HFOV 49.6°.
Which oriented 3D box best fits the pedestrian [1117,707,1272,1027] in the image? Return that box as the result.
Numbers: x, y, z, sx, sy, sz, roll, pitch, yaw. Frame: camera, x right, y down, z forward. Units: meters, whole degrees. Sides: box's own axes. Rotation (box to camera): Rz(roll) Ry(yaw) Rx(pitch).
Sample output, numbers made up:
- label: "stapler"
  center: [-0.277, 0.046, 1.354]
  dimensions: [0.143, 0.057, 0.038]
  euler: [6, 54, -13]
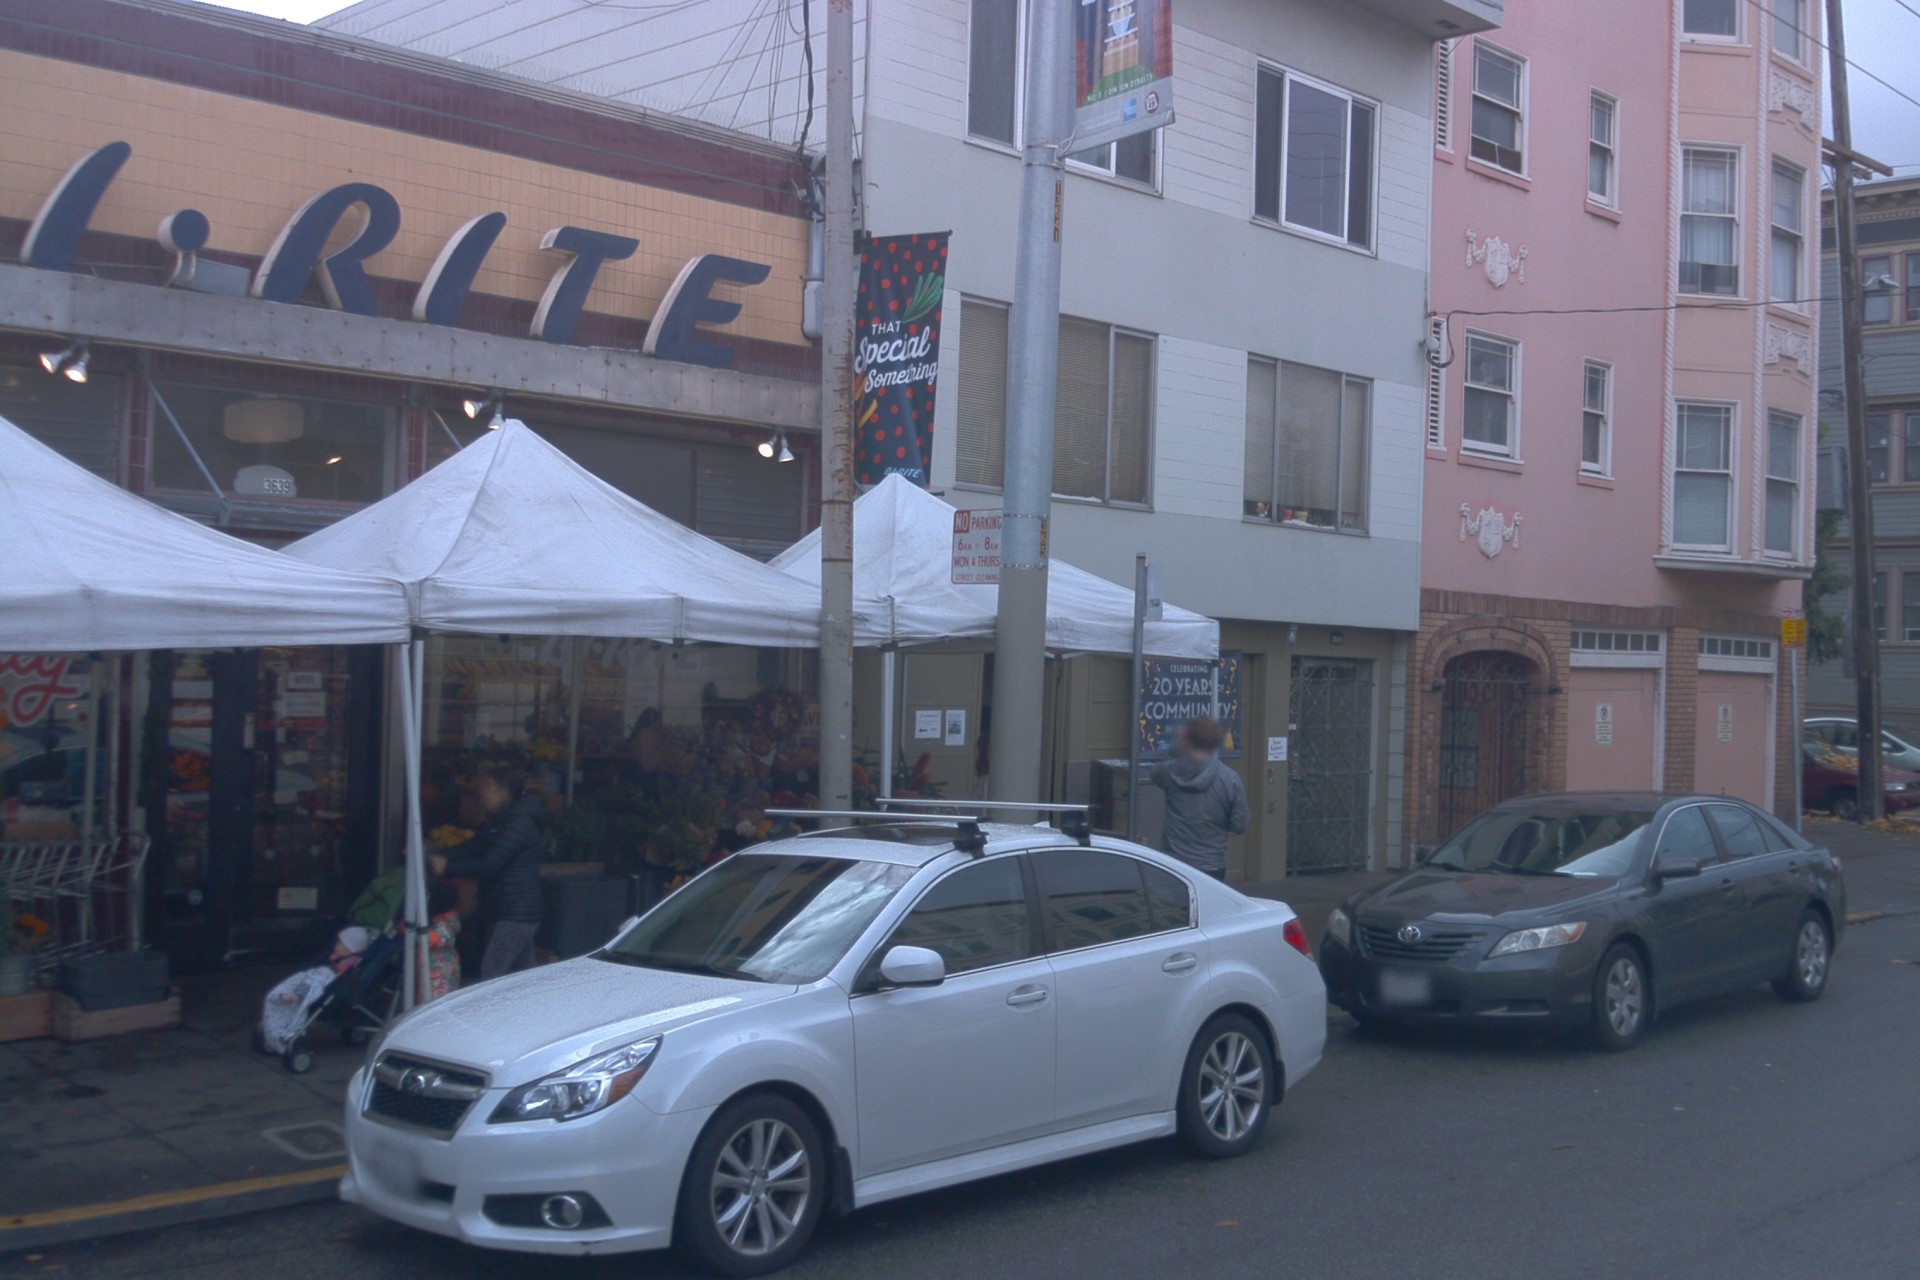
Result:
- label: "pedestrian"
  center: [1.430, 1.339, 12.574]
  dimensions: [0.756, 1.840, 0.723]
  euler: [1, -1, 18]

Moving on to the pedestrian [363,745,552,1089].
- label: "pedestrian"
  center: [-2.454, 1.316, 10.142]
  dimensions: [0.622, 1.570, 0.617]
  euler: [1, -1, 41]

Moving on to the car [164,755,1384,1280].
- label: "car"
  center: [-0.501, 1.418, 8.647]
  dimensions: [4.768, 1.700, 2.125]
  euler: [2, -1, -45]

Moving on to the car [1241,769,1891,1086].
- label: "car"
  center: [4.132, 1.695, 13.597]
  dimensions: [2.107, 1.480, 4.819]
  euler: [0, -1, 43]

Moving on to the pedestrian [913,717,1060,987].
- label: "pedestrian"
  center: [0.182, 1.352, 13.574]
  dimensions: [0.740, 1.670, 0.762]
  euler: [1, -1, 17]
